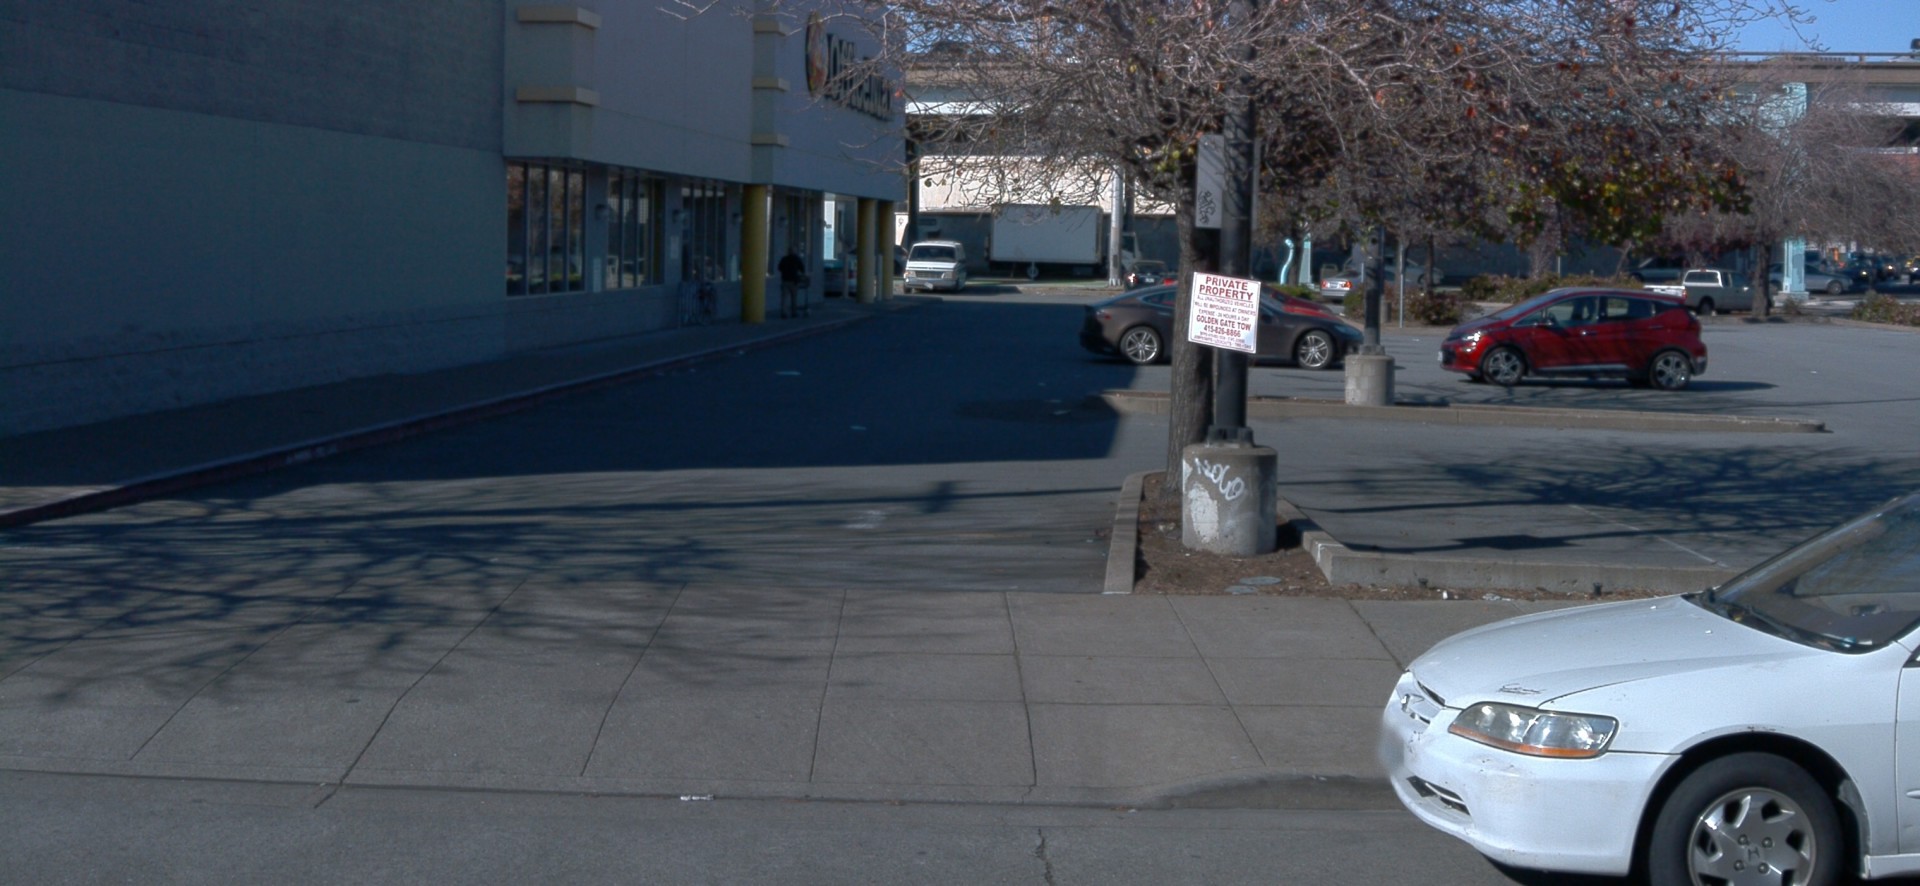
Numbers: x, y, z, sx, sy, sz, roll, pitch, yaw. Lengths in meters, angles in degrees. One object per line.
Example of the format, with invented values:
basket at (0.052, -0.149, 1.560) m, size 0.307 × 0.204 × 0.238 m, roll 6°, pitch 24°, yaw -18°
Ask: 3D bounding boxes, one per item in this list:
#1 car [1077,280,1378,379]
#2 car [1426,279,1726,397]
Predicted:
car at (4.603, -2.008, 35.883) m, size 5.044 × 1.525 × 1.995 m, roll 1°, pitch 4°, yaw 5°
car at (9.734, -1.704, 32.761) m, size 4.156 × 1.695 × 2.038 m, roll 1°, pitch 4°, yaw 2°
